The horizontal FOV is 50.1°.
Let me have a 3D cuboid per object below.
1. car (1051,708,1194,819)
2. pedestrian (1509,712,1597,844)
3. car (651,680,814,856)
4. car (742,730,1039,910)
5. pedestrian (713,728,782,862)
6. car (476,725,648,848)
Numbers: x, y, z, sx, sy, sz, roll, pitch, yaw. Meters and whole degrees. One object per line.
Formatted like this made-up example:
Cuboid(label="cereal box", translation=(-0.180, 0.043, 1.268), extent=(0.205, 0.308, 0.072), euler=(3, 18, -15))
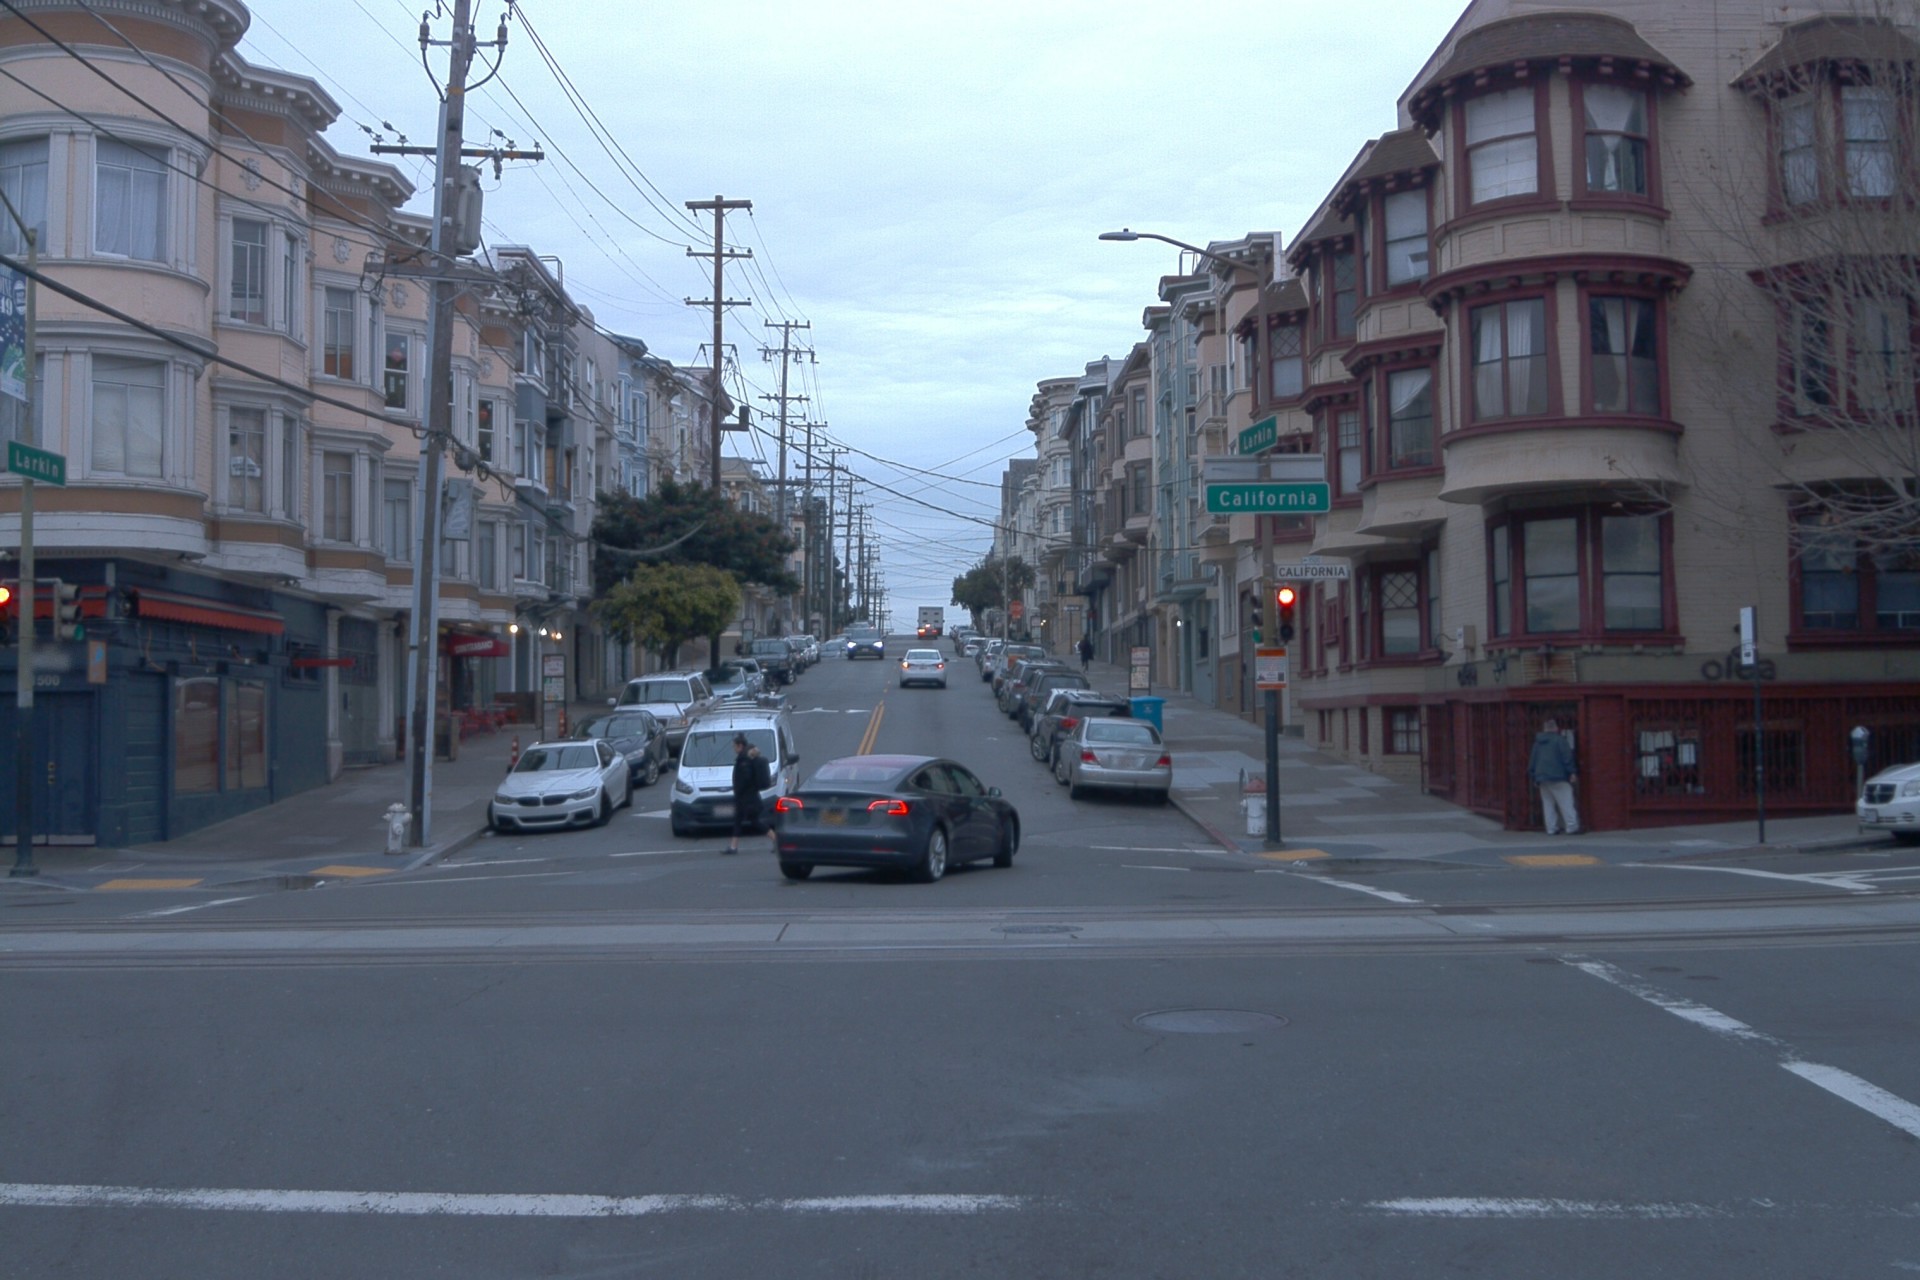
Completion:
Cuboid(label="car", translation=(2.936, 2.236, 38.183), extent=(2.108, 1.700, 4.470), euler=(0, 1, -2))
Cuboid(label="pedestrian", translation=(8.727, 2.009, 30.267), extent=(0.902, 1.830, 0.919), euler=(-1, 1, -44))
Cuboid(label="car", translation=(-3.621, 1.987, 33.587), extent=(2.196, 2.490, 4.690), euler=(0, 1, -1))
Cuboid(label="car", translation=(-0.697, 2.053, 24.693), extent=(2.071, 1.630, 4.705), euler=(0, 1, 18))
Cuboid(label="pedestrian", translation=(-3.003, 2.181, 29.041), extent=(0.943, 1.820, 0.722), euler=(0, 1, -5))
Cuboid(label="car", translation=(-6.813, 2.476, 35.707), extent=(2.150, 1.707, 4.680), euler=(0, 1, -1))
